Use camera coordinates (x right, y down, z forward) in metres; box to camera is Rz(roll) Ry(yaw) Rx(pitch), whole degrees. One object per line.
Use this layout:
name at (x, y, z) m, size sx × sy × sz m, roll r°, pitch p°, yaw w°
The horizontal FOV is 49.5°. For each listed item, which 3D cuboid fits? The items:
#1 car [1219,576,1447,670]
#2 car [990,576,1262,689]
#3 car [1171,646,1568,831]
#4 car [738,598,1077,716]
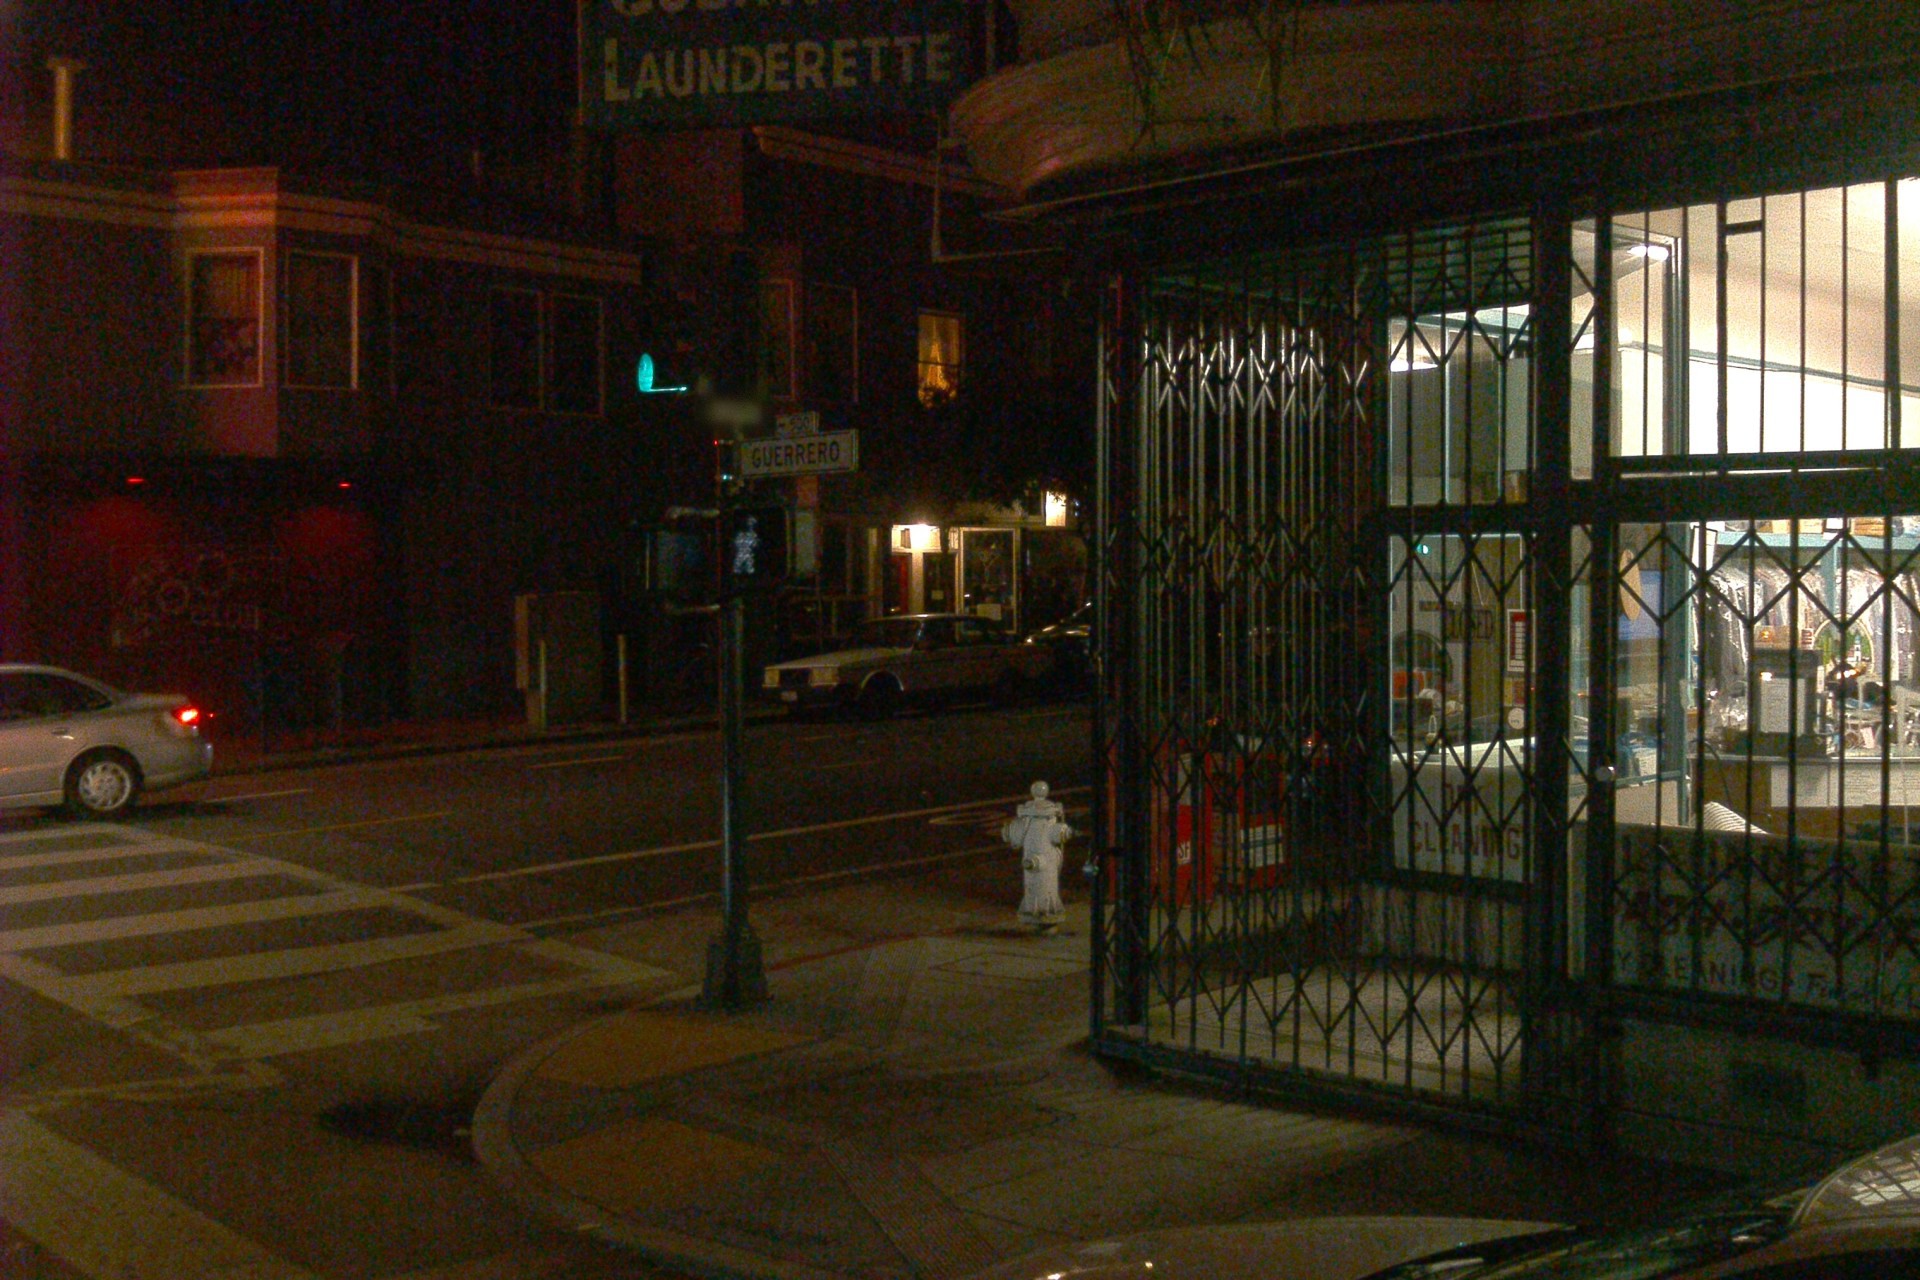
car at (6.680, -0.277, 37.011) m, size 1.924 × 1.570 × 4.226 m, roll 1°, pitch 0°, yaw 45°
car at (2.702, -0.093, 33.202) m, size 1.991 × 1.690 × 4.349 m, roll 1°, pitch 0°, yaw 44°
car at (3.605, 0.786, 18.001) m, size 3.504 × 1.420 × 1.655 m, roll 1°, pitch 0°, yaw -45°
car at (-0.652, 0.247, 29.840) m, size 1.884 × 1.550 × 4.981 m, roll 1°, pitch 0°, yaw 43°
